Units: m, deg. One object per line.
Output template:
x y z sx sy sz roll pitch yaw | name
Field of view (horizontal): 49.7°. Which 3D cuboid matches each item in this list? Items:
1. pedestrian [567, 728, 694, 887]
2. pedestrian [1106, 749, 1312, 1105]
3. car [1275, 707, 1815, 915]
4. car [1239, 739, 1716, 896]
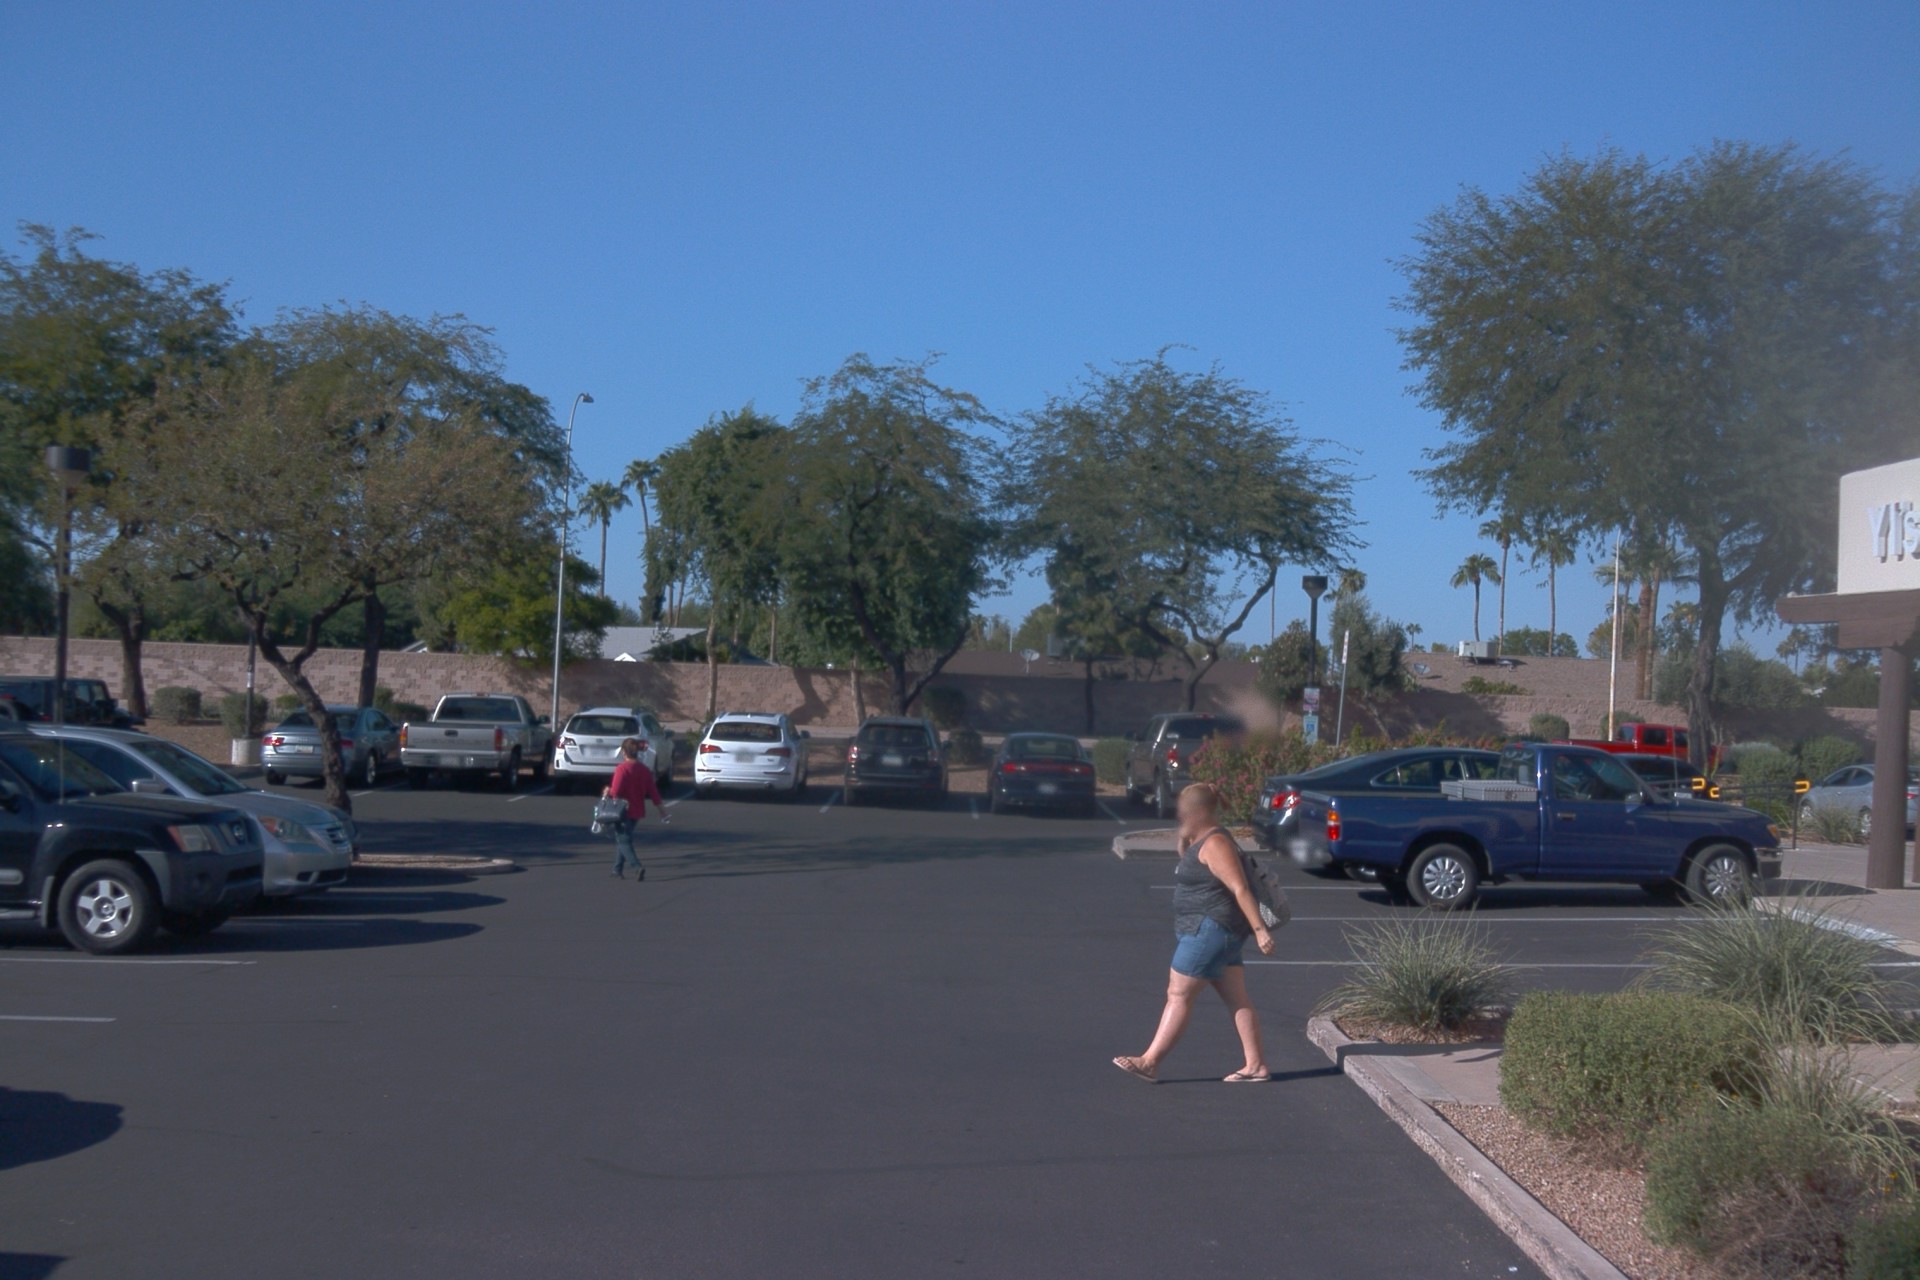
-3.665 1.833 23.060 0.982 1.680 1.039 1 -1 -40 | pedestrian
1.289 1.471 10.927 0.962 1.750 0.926 1 -1 0 | pedestrian
5.629 1.632 20.392 4.685 1.860 2.091 1 -1 -2 | car
5.666 1.945 23.138 4.780 1.570 2.041 1 -1 -2 | car
